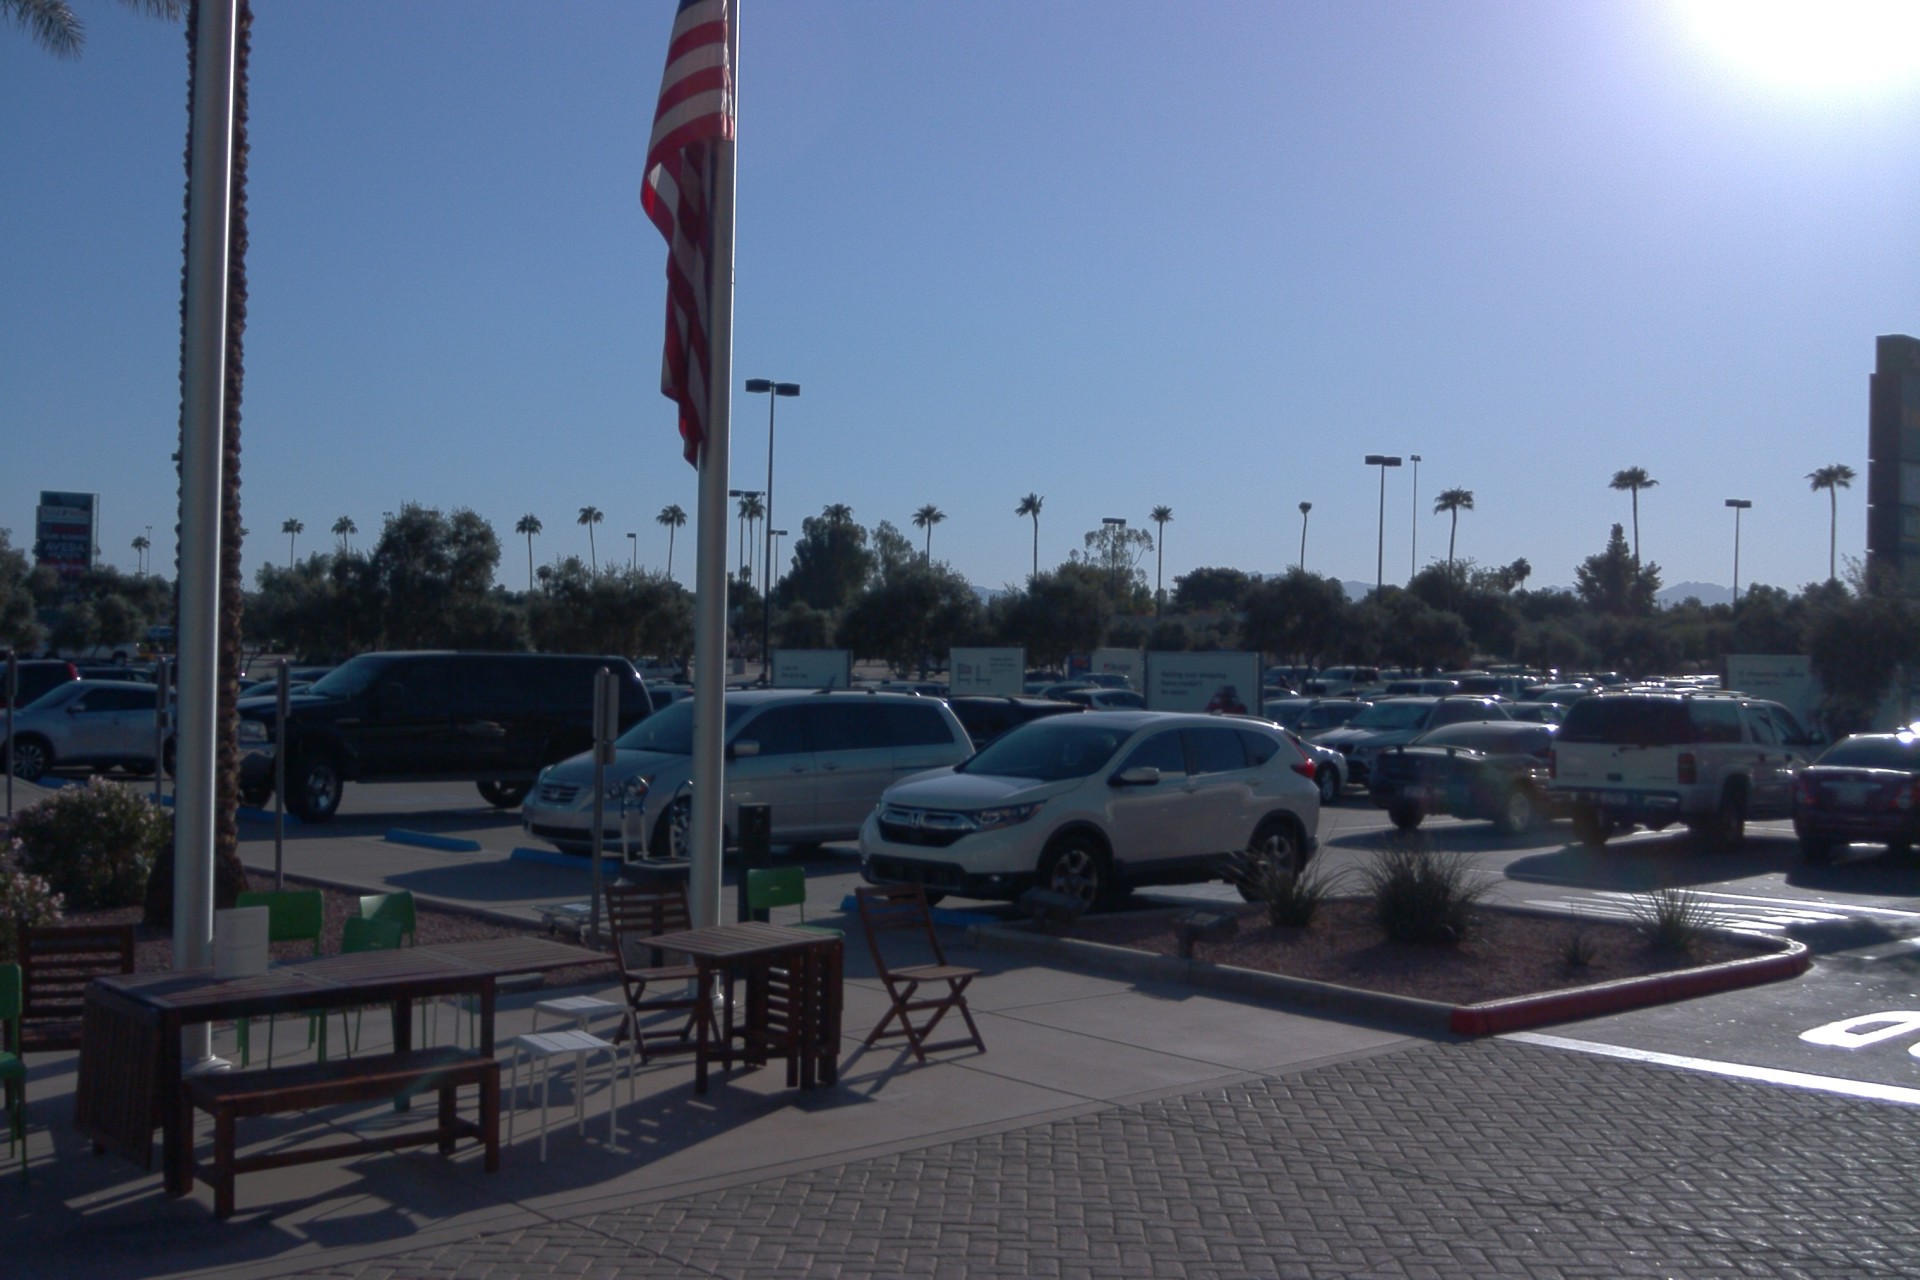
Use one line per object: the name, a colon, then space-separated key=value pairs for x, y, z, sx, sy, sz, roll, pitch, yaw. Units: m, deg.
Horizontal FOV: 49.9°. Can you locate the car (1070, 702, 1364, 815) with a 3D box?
car: x=4.143 y=1.815 z=32.786 sx=4.773 sy=1.560 sz=1.931 roll=1 pitch=0 yaw=-41

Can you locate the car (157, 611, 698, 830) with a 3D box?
car: x=-6.703 y=0.932 z=26.506 sx=6.160 sy=2.490 sz=2.672 roll=1 pitch=0 yaw=-41

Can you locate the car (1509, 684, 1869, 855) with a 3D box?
car: x=9.367 y=1.537 z=26.269 sx=5.317 sy=1.880 sz=2.178 roll=1 pitch=0 yaw=-44

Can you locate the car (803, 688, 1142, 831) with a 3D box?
car: x=0.114 y=1.629 z=29.635 sx=4.563 sy=1.770 sz=2.205 roll=0 pitch=0 yaw=43

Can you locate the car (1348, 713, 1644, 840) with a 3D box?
car: x=7.429 y=1.813 z=28.396 sx=4.346 sy=1.490 sz=1.909 roll=1 pitch=0 yaw=-43

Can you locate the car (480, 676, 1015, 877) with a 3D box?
car: x=-2.080 y=1.297 z=21.549 sx=5.286 sy=1.780 sz=2.246 roll=1 pitch=0 yaw=-45

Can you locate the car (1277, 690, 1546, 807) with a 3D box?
car: x=8.039 y=1.845 z=36.517 sx=4.866 sy=1.830 sz=2.266 roll=1 pitch=0 yaw=-43

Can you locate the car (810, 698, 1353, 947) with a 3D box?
car: x=1.152 y=1.402 z=17.492 sx=2.159 sy=1.710 sz=4.564 roll=0 pitch=0 yaw=43
